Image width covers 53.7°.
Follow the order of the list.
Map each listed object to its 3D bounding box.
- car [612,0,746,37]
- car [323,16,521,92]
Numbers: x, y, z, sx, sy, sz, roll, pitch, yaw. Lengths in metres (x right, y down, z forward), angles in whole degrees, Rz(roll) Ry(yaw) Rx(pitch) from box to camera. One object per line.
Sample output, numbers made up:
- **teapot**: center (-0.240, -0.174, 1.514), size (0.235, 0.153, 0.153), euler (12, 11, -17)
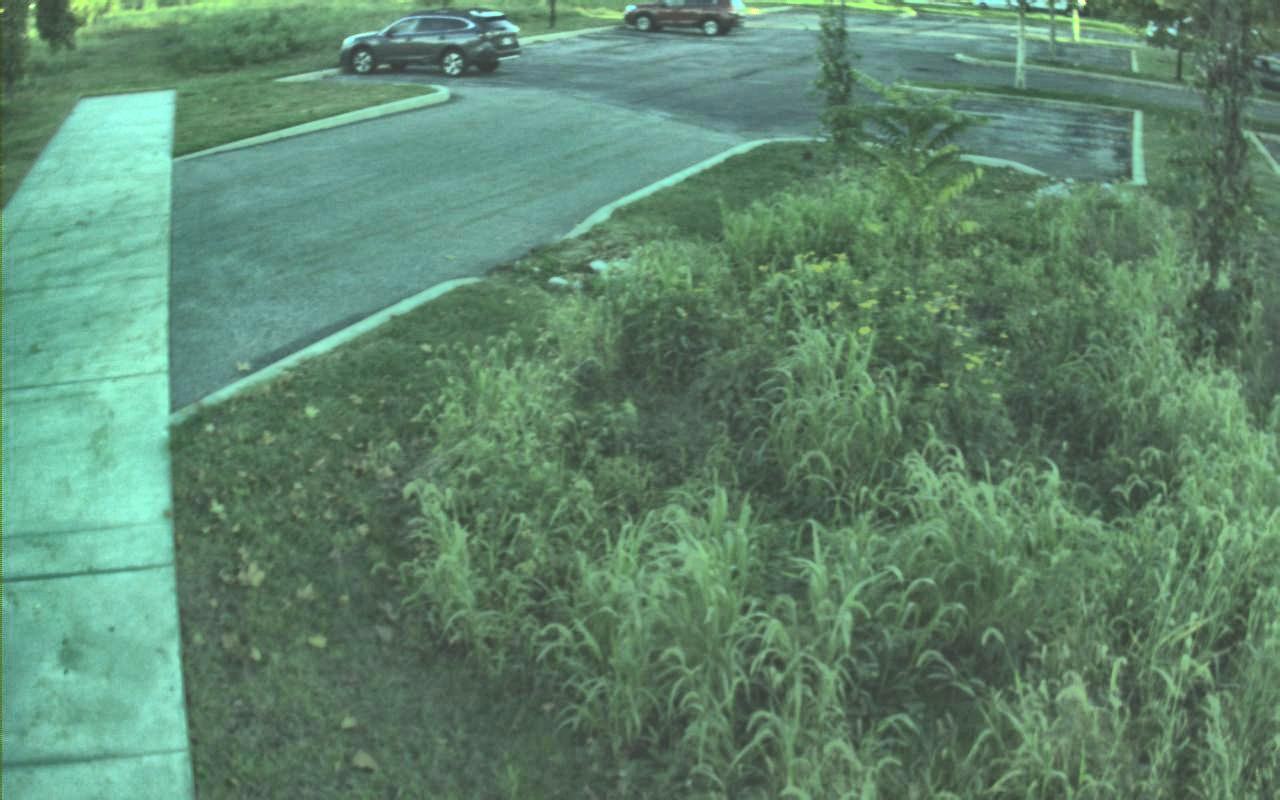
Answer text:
- **car**: center (1.489, -14.595, 46.544), size (4.700, 1.652, 2.015), euler (4, 16, 17)
- **car**: center (-5.551, -8.707, 30.642), size (4.688, 1.672, 2.041), euler (6, 17, 23)
